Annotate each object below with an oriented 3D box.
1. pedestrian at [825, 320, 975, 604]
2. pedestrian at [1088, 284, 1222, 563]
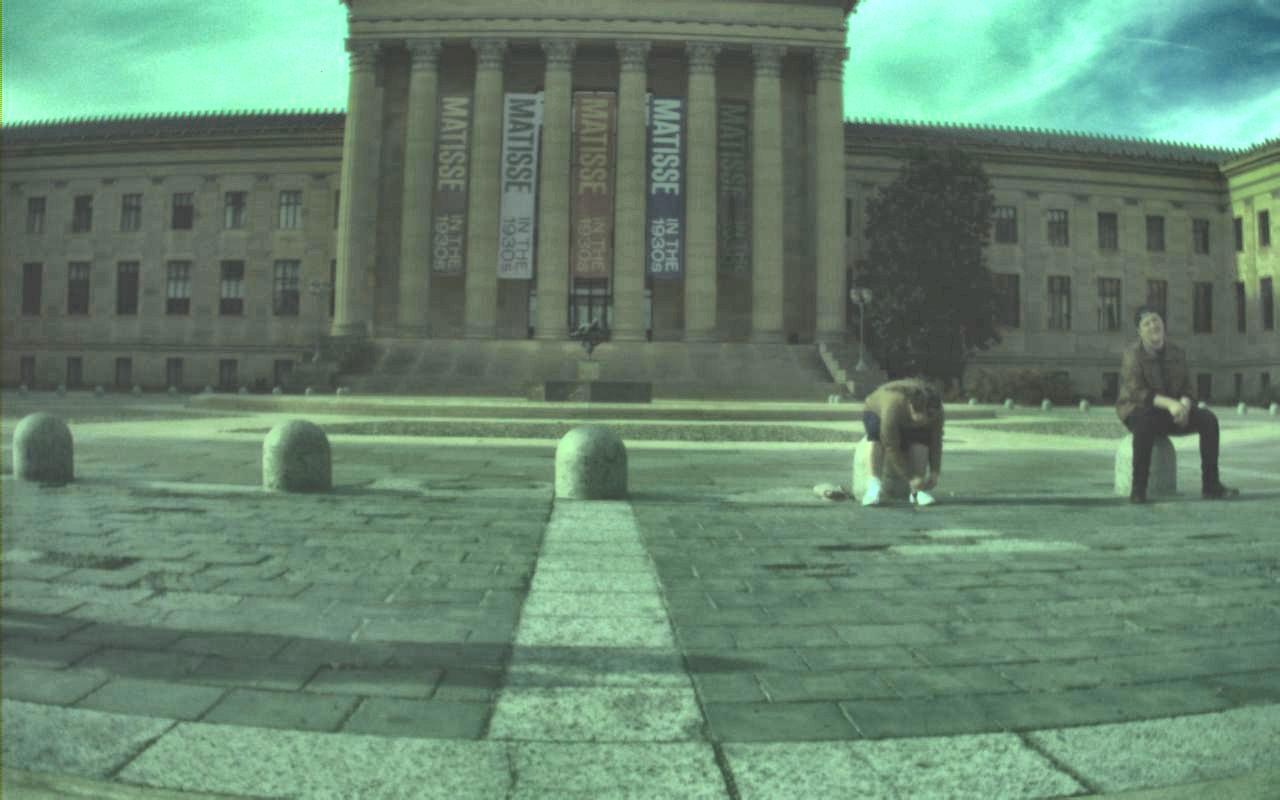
[{"bbox_3d":[1.592,0.366,7.674,0.789,1.667,0.810,0,0,2],"label":"pedestrian"},{"bbox_3d":[3.438,0.164,7.872,0.840,1.781,0.851,1,0,18],"label":"pedestrian"}]
